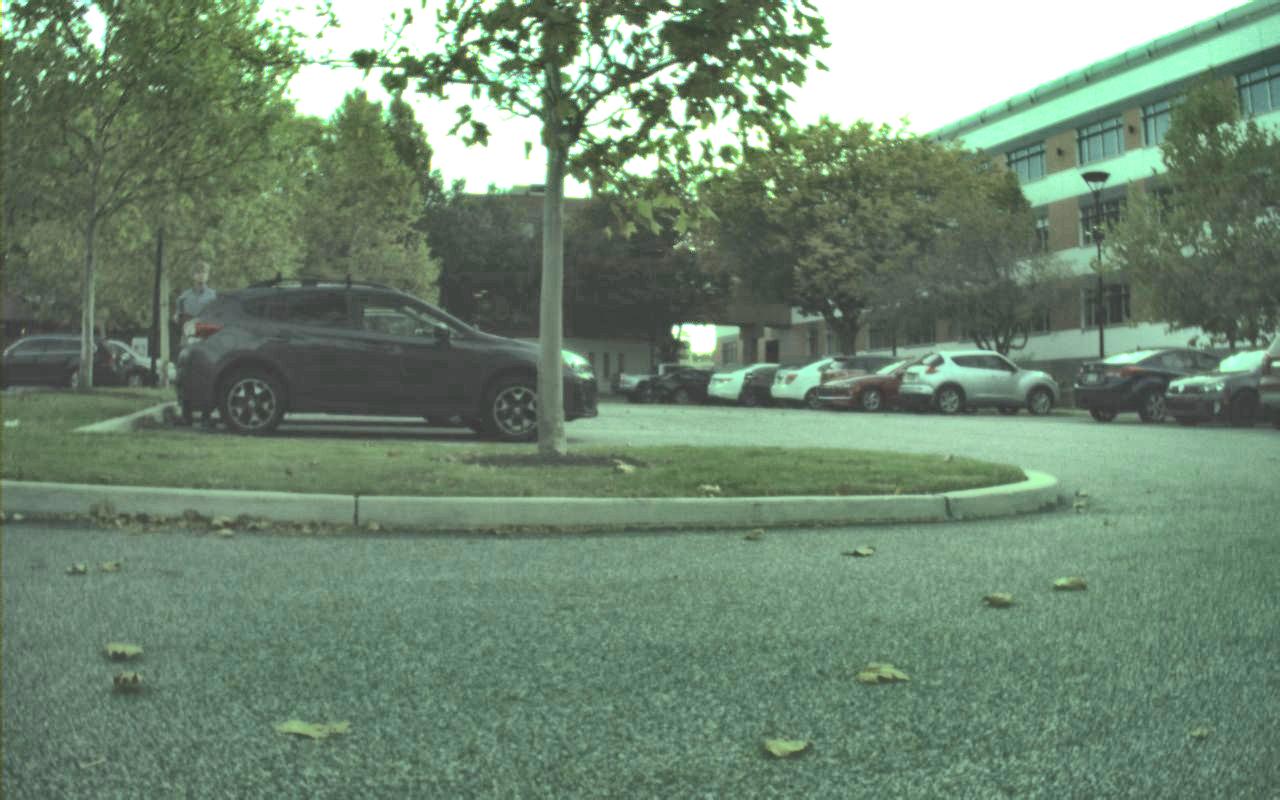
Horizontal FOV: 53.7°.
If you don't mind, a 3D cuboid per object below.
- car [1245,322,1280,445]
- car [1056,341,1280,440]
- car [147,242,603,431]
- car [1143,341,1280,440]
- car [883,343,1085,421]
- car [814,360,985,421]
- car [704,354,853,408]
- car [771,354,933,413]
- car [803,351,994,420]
[{"bbox_3d":[11.696,-0.204,17.163,4.505,1.741,1.975,0,1,-17],"label":"car"},{"bbox_3d":[10.147,-0.153,21.877,4.606,1.689,1.995,0,1,-13],"label":"car"},{"bbox_3d":[-2.843,-0.620,12.881,4.559,1.813,1.972,0,1,-17],"label":"car"},{"bbox_3d":[10.921,-0.127,19.701,4.358,1.574,1.912,0,1,-12],"label":"car"},{"bbox_3d":[8.309,-0.418,29.551,4.595,1.767,1.982,0,1,-13],"label":"car"},{"bbox_3d":[7.250,-0.269,34.711,4.412,1.628,1.947,0,1,-13],"label":"car"},{"bbox_3d":[4.618,-0.633,42.102,4.587,1.719,1.993,0,1,-12],"label":"car"},{"bbox_3d":[6.293,-0.487,37.256,4.469,1.687,1.950,0,1,-11],"label":"car"},{"bbox_3d":[6.645,-0.370,31.927,4.563,1.684,1.965,0,1,-11],"label":"car"}]
